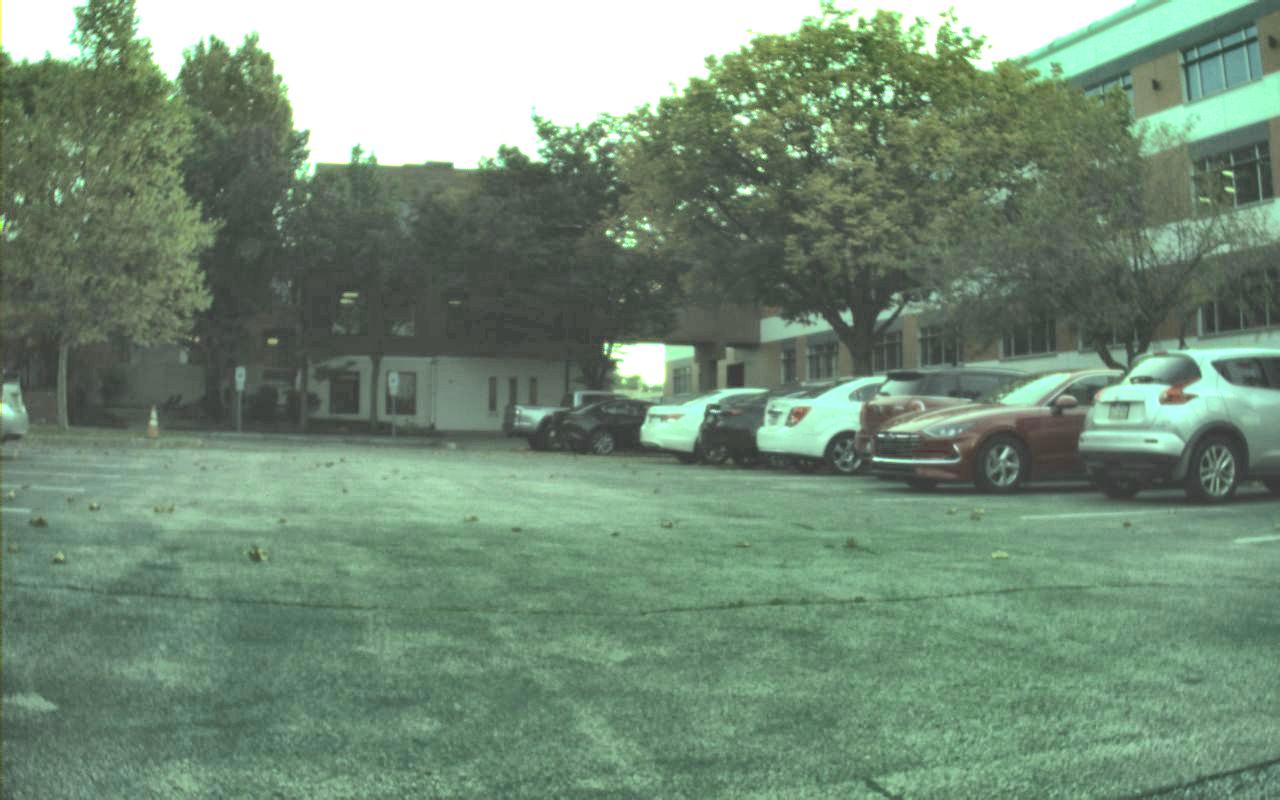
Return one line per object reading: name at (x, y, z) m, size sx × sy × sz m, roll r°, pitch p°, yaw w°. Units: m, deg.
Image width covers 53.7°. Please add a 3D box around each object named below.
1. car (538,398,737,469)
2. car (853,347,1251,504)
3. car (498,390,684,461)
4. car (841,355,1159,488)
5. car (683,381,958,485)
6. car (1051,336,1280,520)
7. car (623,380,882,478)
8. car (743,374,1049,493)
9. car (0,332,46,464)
car at (-0.056, 0.787, 31.548) m, size 4.599 × 1.601 × 1.956 m, roll 0°, pitch 1°, yaw -25°
car at (4.942, 0.244, 14.135) m, size 4.606 × 1.596 × 1.959 m, roll 0°, pitch 1°, yaw -17°
car at (-1.446, 0.700, 36.395) m, size 5.019 × 1.917 × 2.094 m, roll 0°, pitch 1°, yaw -18°
car at (5.161, 0.241, 17.130) m, size 4.428 × 1.641 × 1.939 m, roll 0°, pitch 1°, yaw -26°
car at (3.148, 0.515, 21.799) m, size 4.428 × 1.652 × 1.937 m, roll 0°, pitch 1°, yaw -19°
car at (6.437, 0.248, 11.799) m, size 4.257 × 1.632 × 1.885 m, roll 0°, pitch 1°, yaw -15°
car at (2.145, 0.510, 24.207) m, size 4.588 × 1.719 × 1.992 m, roll 0°, pitch 1°, yaw -15°
car at (4.018, 0.473, 19.438) m, size 4.470 × 1.687 × 1.950 m, roll 0°, pitch 1°, yaw -14°
car at (-10.344, 0.007, 14.535) m, size 4.486 × 1.666 × 1.972 m, roll 0°, pitch 1°, yaw -18°
